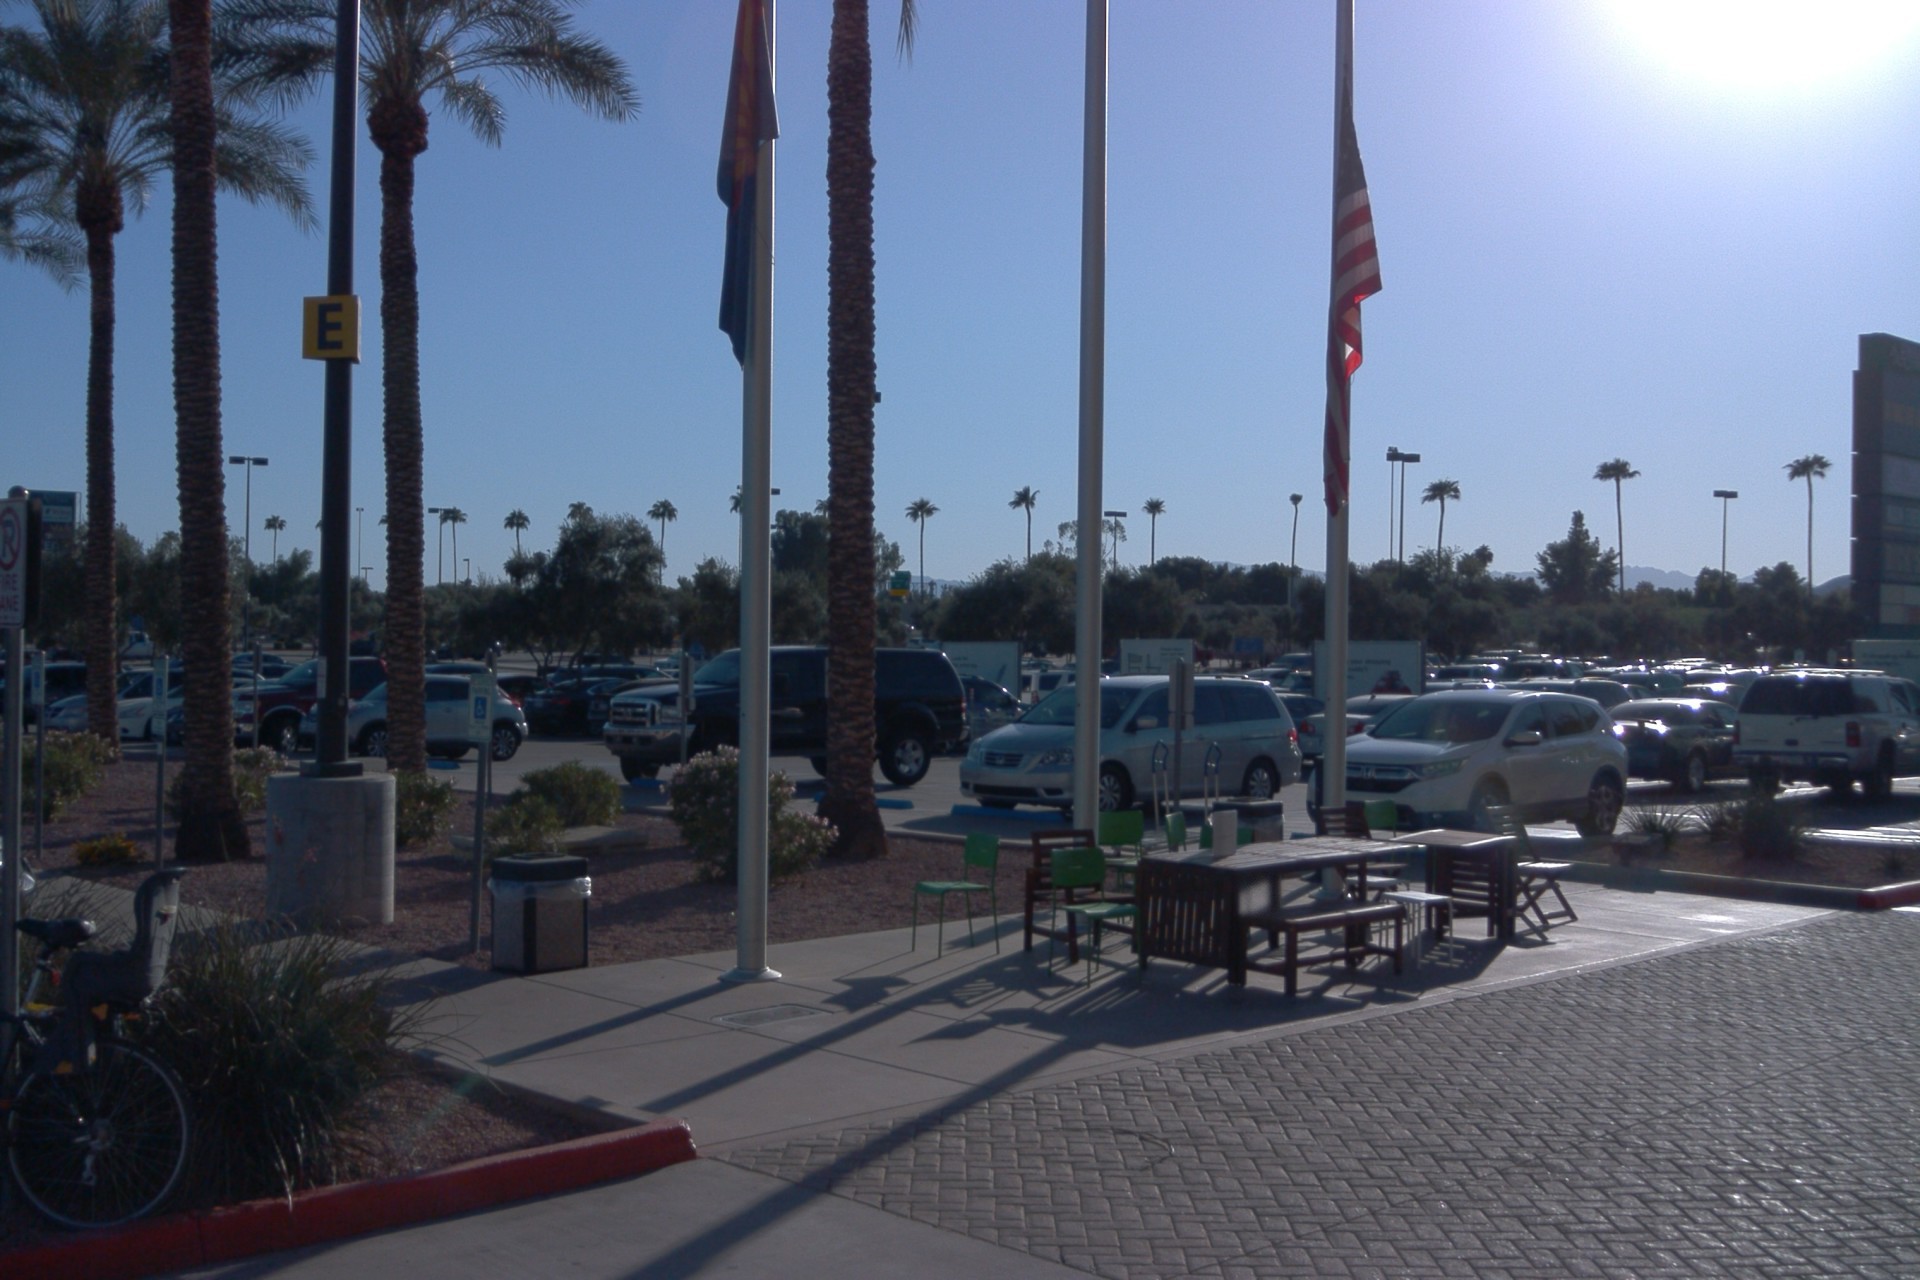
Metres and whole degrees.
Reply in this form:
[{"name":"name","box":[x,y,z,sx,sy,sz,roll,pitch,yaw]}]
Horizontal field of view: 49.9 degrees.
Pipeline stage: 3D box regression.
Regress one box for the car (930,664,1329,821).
[{"name":"car","box":[2.282,1.218,26.489,2.246,1.780,5.286,0,0,44]}]

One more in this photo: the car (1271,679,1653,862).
[{"name":"car","box":[5.565,1.316,22.508,2.159,1.710,4.564,0,0,41]}]

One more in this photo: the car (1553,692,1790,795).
[{"name":"car","box":[11.616,1.629,33.582,4.346,1.490,1.909,1,0,-45]}]

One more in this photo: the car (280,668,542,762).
[{"name":"car","box":[-9.799,1.303,37.066,1.967,1.550,4.106,0,0,44]}]

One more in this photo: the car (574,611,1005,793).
[{"name":"car","box":[-2.471,0.865,31.323,6.160,2.490,2.672,1,0,-43]}]
